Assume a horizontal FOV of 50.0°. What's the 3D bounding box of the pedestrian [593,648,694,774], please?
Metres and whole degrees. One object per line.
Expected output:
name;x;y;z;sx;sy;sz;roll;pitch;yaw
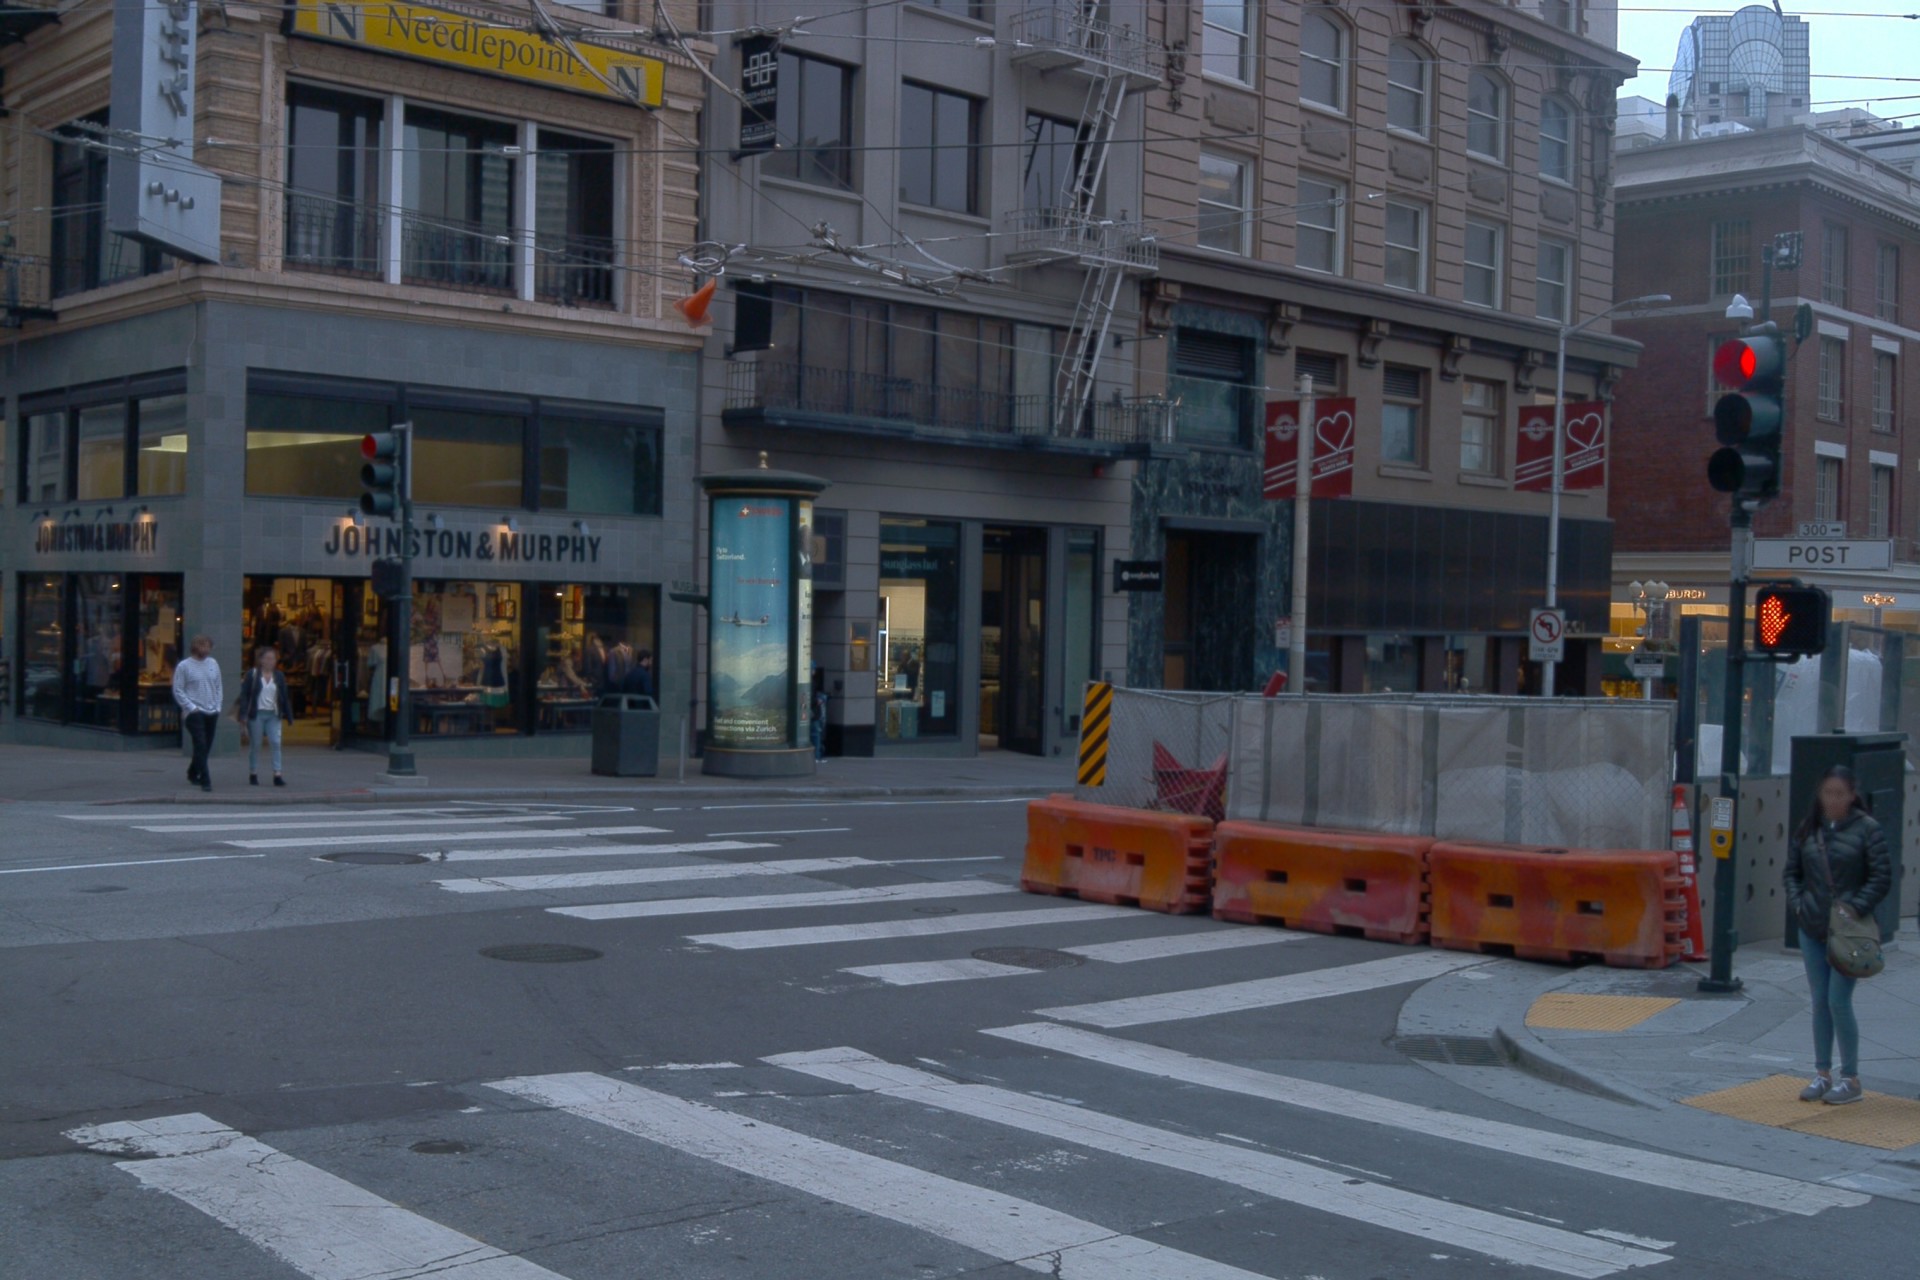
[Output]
pedestrian;-4.567;1.008;29.718;1.110;1.760;0.954;0;0;-40

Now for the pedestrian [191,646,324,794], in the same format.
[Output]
pedestrian;-8.064;0.891;23.609;1.210;1.640;1.001;0;0;43

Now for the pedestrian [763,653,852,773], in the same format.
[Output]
pedestrian;-2.439;1.150;32.937;1.001;1.860;0.999;0;0;45

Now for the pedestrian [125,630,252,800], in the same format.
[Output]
pedestrian;-8.702;0.822;23.200;1.001;1.860;0.999;0;0;43
